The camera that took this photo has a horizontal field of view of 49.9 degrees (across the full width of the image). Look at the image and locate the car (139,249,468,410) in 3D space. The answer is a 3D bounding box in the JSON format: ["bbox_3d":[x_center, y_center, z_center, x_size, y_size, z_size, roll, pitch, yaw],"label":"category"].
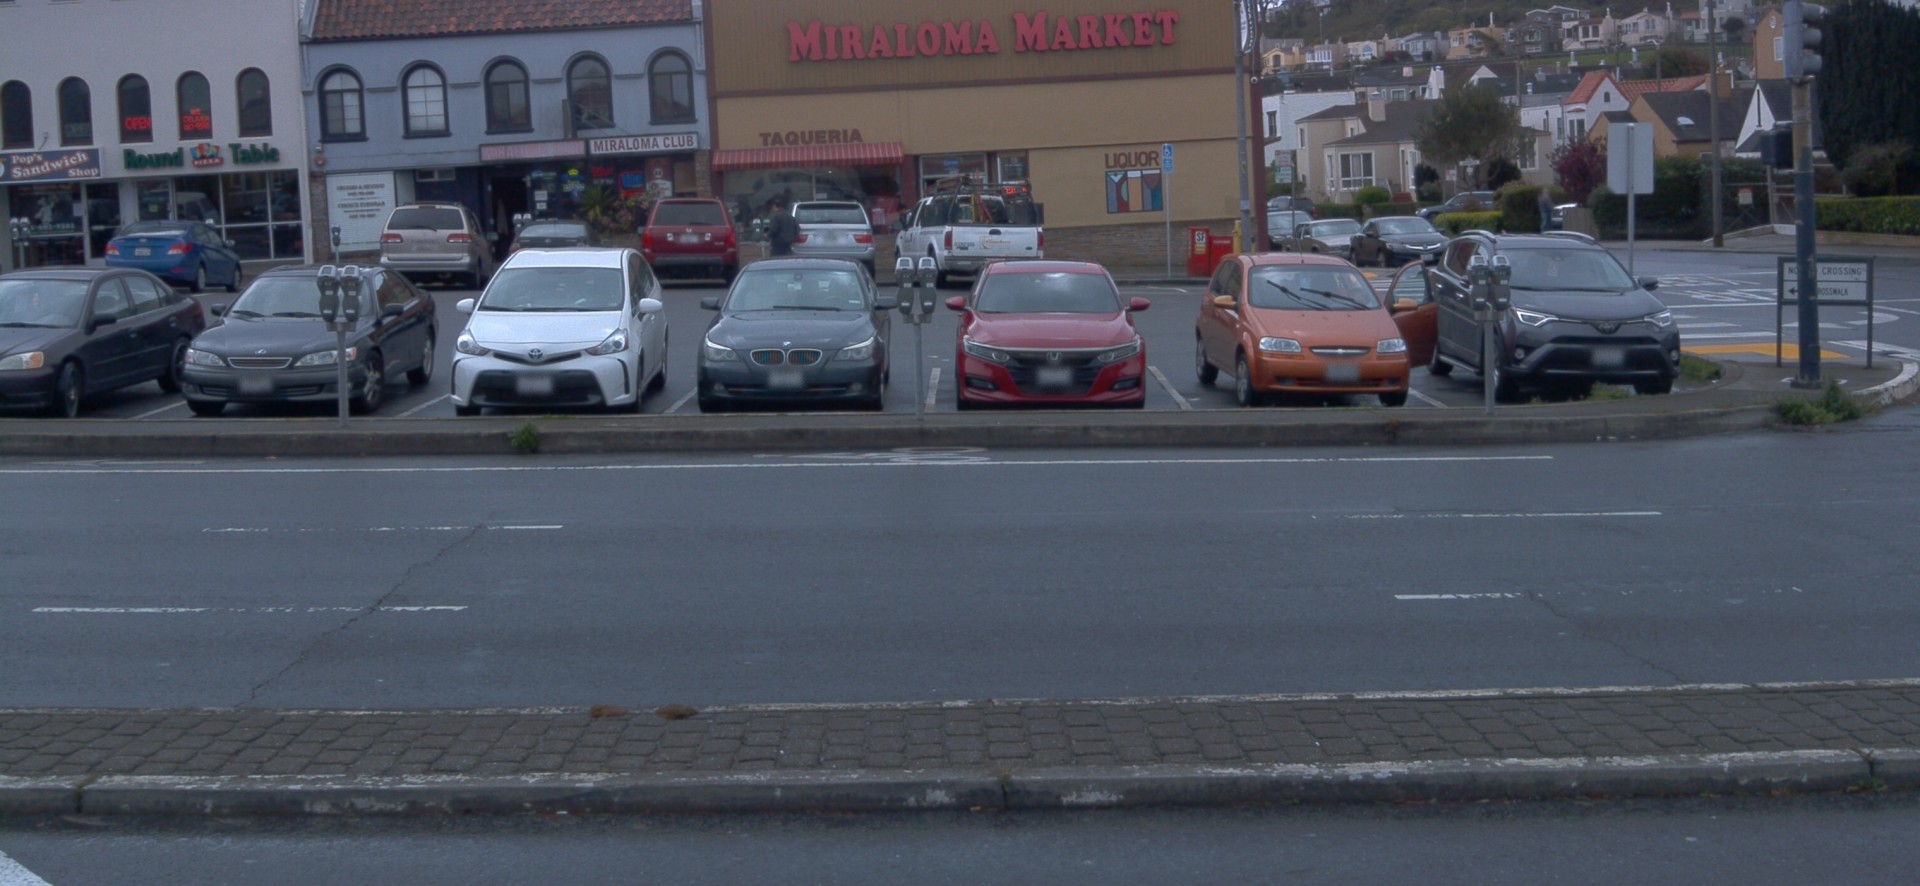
[{"bbox_3d":[-6.718,-1.285,21.703,2.023,1.392,4.712,0,6,-1],"label":"car"}]

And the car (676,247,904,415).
[{"bbox_3d":[-1.657,-1.270,21.658,2.112,1.461,4.574,0,6,-1],"label":"car"}]

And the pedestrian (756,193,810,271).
[{"bbox_3d":[-3.342,-3.995,38.981,0.718,1.457,0.709,2,3,36],"label":"pedestrian"}]

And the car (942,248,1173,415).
[{"bbox_3d":[0.907,-1.276,21.830,2.185,1.461,4.636,0,6,-1],"label":"car"}]

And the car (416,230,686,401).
[{"bbox_3d":[-4.069,-1.418,21.327,2.132,1.491,4.678,0,6,-4],"label":"car"}]

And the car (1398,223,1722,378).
[{"bbox_3d":[6.389,-1.643,22.574,2.205,1.461,4.580,0,6,0],"label":"car"}]

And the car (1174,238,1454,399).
[{"bbox_3d":[3.610,-1.398,21.806,2.049,1.462,4.037,0,6,-4],"label":"car"}]
